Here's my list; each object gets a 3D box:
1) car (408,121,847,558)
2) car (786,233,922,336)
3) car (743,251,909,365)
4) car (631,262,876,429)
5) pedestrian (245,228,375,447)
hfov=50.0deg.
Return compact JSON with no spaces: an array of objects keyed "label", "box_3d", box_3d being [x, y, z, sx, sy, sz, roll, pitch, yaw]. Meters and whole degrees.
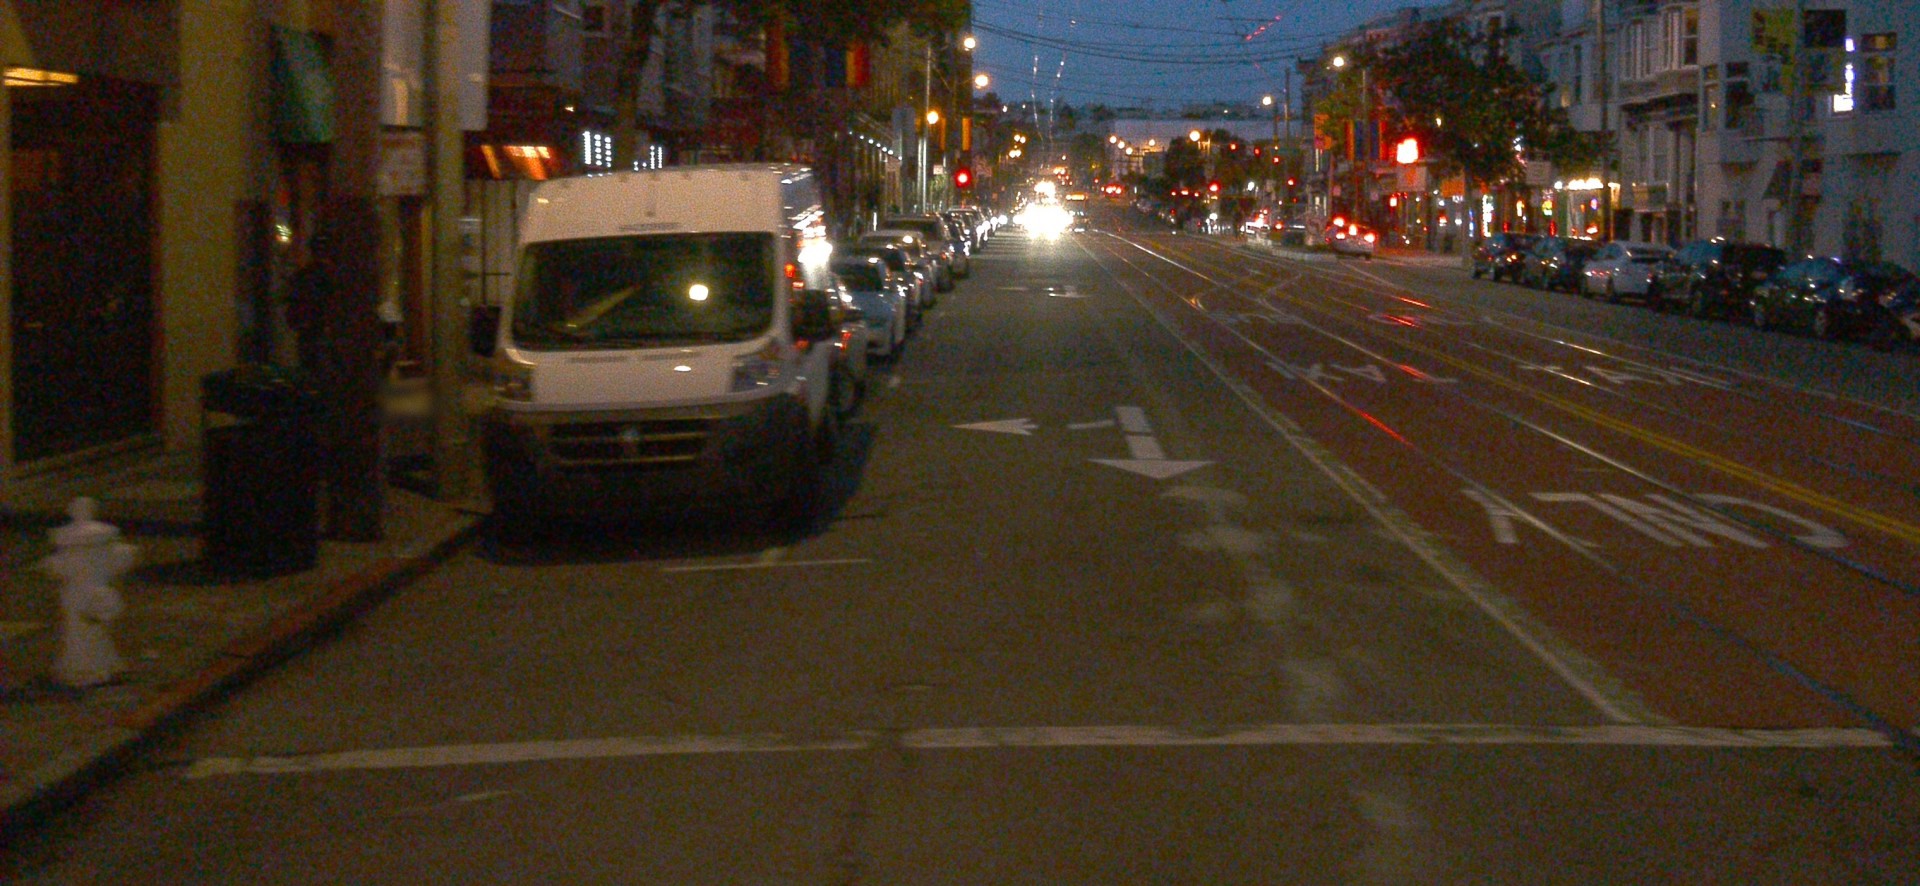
[{"label":"car","box_3d":[-2.222,-0.936,15.598,2.498,2.719,5.548,0,5,-1]},{"label":"car","box_3d":[-1.718,-2.741,34.784,1.925,1.603,4.737,0,6,2]},{"label":"car","box_3d":[-1.819,-1.988,29.379,1.958,1.443,4.507,0,6,2]},{"label":"car","box_3d":[-2.085,-1.142,22.109,2.013,1.513,4.566,0,6,2]},{"label":"pedestrian","box_3d":[-5.691,-0.949,18.049,0.826,1.867,0.871,0,2,3]}]
